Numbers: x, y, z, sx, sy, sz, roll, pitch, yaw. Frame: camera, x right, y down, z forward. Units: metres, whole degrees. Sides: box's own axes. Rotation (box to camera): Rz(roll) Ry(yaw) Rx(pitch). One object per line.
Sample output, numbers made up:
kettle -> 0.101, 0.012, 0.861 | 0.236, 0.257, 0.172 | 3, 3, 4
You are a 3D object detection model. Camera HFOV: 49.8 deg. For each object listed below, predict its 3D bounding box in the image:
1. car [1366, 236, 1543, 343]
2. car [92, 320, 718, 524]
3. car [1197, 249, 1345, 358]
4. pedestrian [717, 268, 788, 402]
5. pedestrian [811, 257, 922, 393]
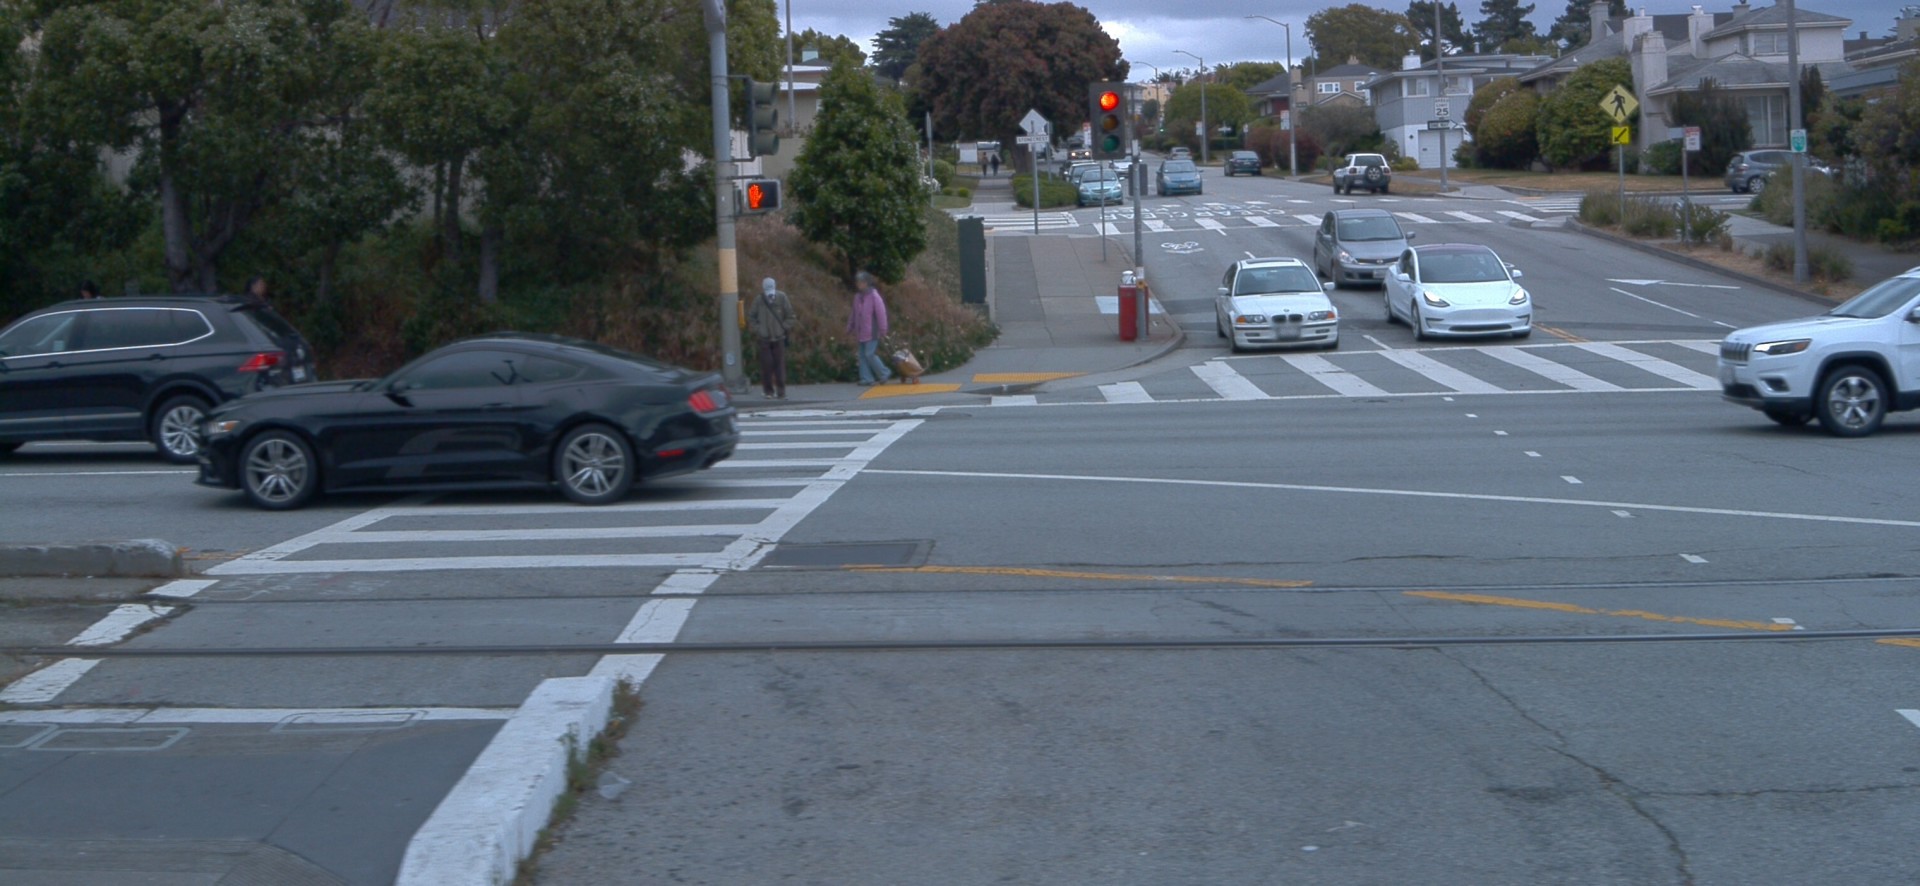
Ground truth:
car -> 8.236, -2.646, 34.826 | 2.074, 1.591, 4.561 | 0, 6, 3
car -> -4.498, -0.218, 17.271 | 4.688, 1.475, 1.922 | 0, 5, 1
car -> 5.095, -2.382, 34.403 | 2.016, 1.591, 4.485 | 0, 6, 3
pedestrian -> -2.732, -1.440, 27.274 | 0.751, 1.727, 0.577 | 0, 2, 17
pedestrian -> -1.346, -1.723, 29.693 | 1.226, 1.866, 0.990 | -3, 3, -37
